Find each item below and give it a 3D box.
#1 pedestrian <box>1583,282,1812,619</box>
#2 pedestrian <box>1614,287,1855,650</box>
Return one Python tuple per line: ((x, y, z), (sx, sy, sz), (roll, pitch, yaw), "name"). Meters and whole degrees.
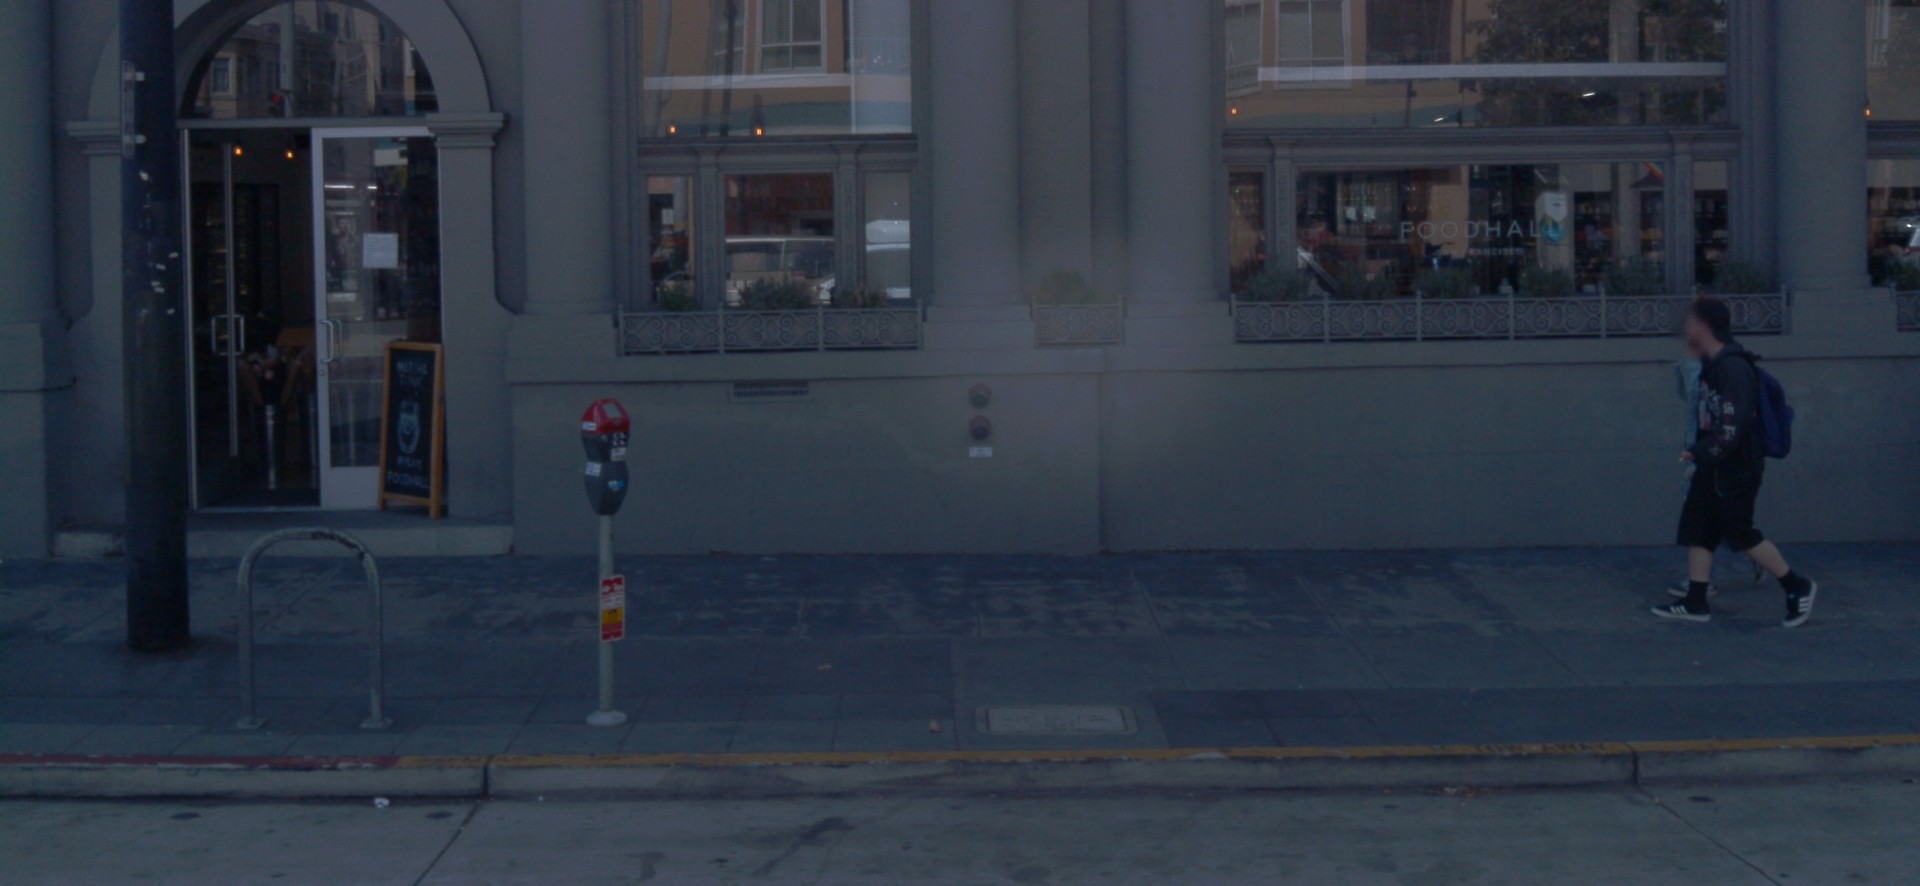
((4.055, 0.014, 11.354), (1.028, 1.789, 0.691), (0, 1, 1), "pedestrian")
((3.993, 0.103, 10.649), (0.984, 1.799, 0.714), (0, 1, 0), "pedestrian")
